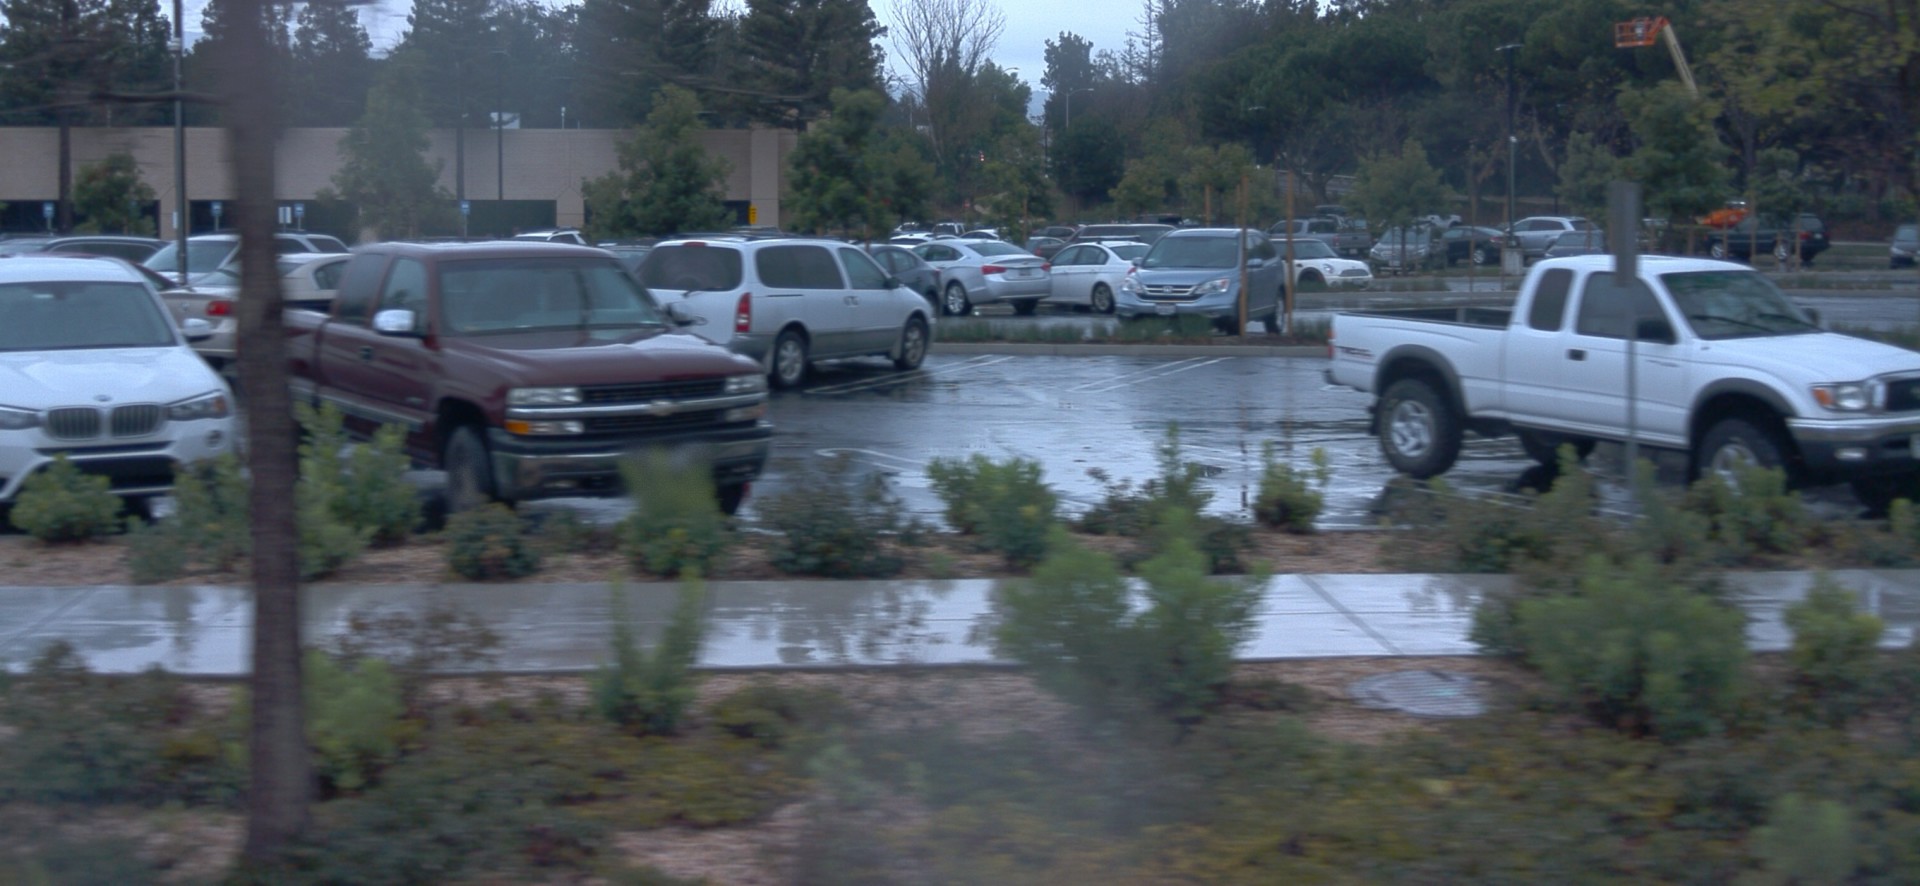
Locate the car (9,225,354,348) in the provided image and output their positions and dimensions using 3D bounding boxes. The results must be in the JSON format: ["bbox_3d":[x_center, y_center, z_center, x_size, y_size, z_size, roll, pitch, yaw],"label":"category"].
[{"bbox_3d":[-11.200,-2.344,30.318,2.188,1.613,4.566,2,5,23],"label":"car"}]

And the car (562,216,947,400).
[{"bbox_3d":[-2.313,-1.708,24.925,2.167,1.943,4.914,2,5,29],"label":"car"}]

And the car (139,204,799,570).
[{"bbox_3d":[-3.750,-0.635,14.827,2.419,2.063,5.830,-2,6,-37],"label":"car"}]

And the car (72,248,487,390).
[{"bbox_3d":[-8.044,-1.584,25.108,2.156,1.494,4.636,2,6,25],"label":"car"}]

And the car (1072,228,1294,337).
[{"bbox_3d":[3.487,-2.498,31.666,2.180,1.504,4.717,2,6,21],"label":"car"}]
